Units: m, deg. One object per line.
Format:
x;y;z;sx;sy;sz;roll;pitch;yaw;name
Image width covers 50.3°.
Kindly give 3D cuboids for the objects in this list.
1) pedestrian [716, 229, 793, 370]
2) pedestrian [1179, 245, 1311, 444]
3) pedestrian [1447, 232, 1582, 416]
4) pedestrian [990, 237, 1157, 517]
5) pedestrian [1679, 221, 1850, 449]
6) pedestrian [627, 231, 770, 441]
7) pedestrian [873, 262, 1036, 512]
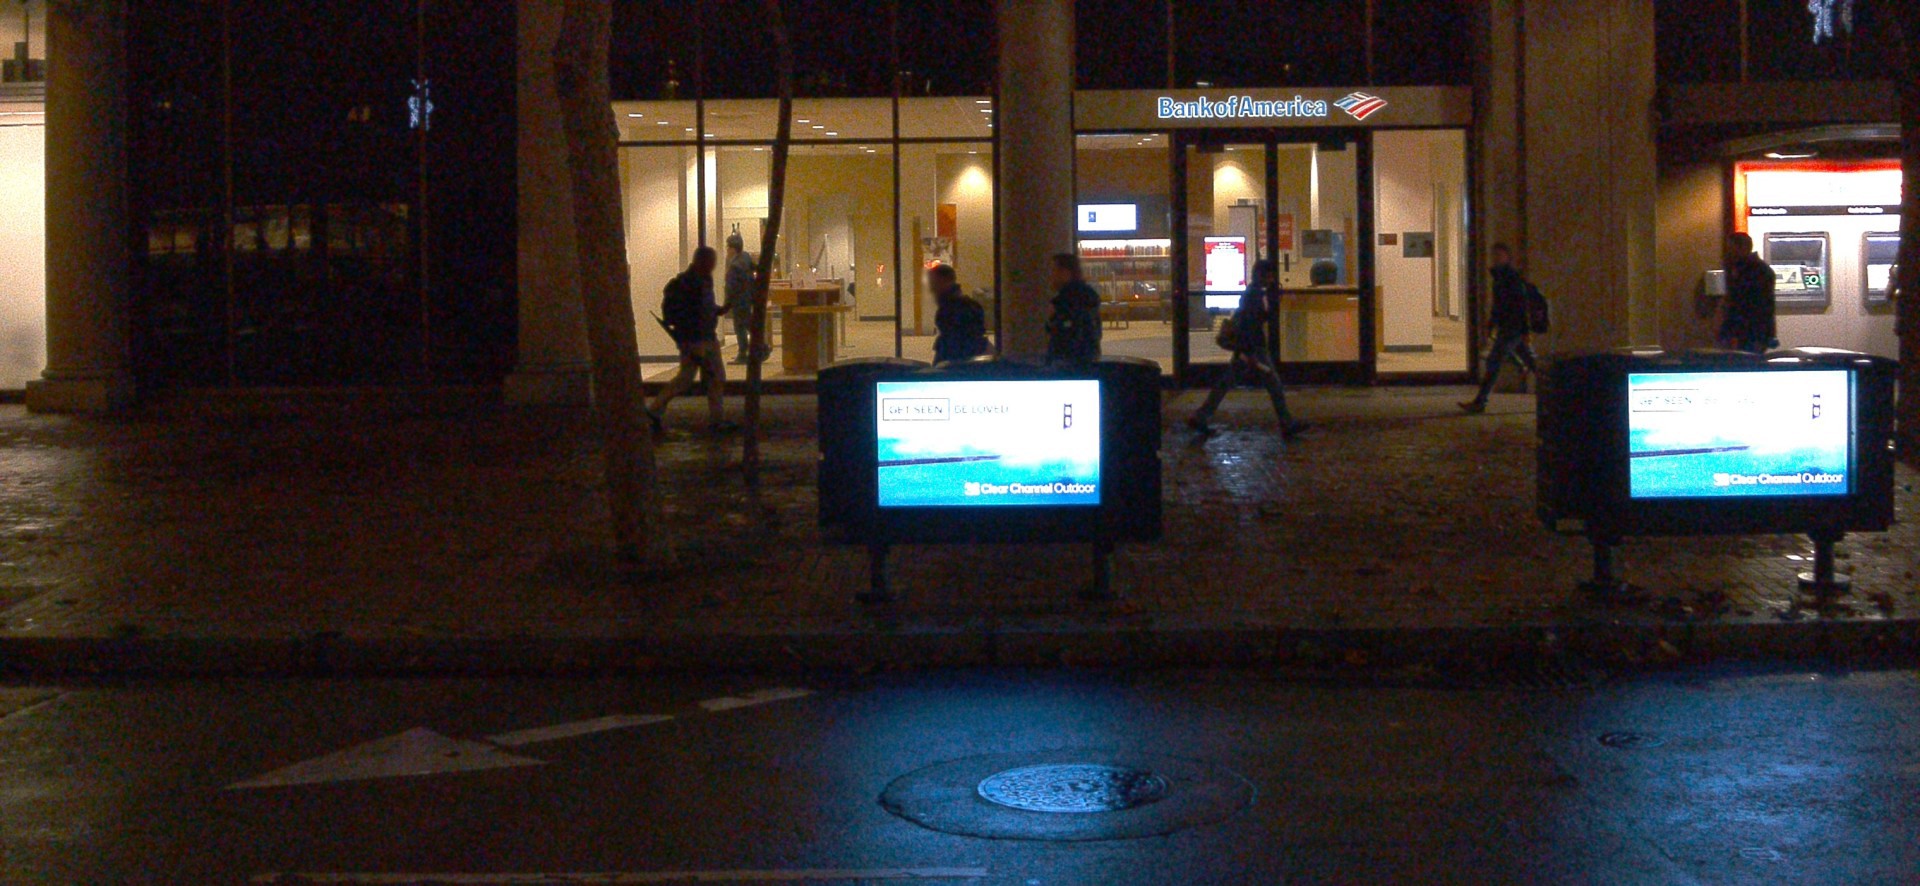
-2.707;-1.907;26.902;0.833;1.795;0.695;-2;2;-23;pedestrian
2.559;-0.909;18.469;1.132;1.715;0.911;-1;3;4;pedestrian
5.383;-1.174;19.905;1.136;1.725;0.850;-1;3;4;pedestrian
0.796;-0.500;14.515;1.023;1.885;0.784;-1;2;-11;pedestrian
6.729;-0.927;17.149;1.151;1.845;0.848;-1;2;3;pedestrian
-2.431;-1.025;19.129;1.047;1.885;1.027;0;3;8;pedestrian
-0.029;-0.444;15.273;1.037;1.785;0.703;0;2;14;pedestrian
